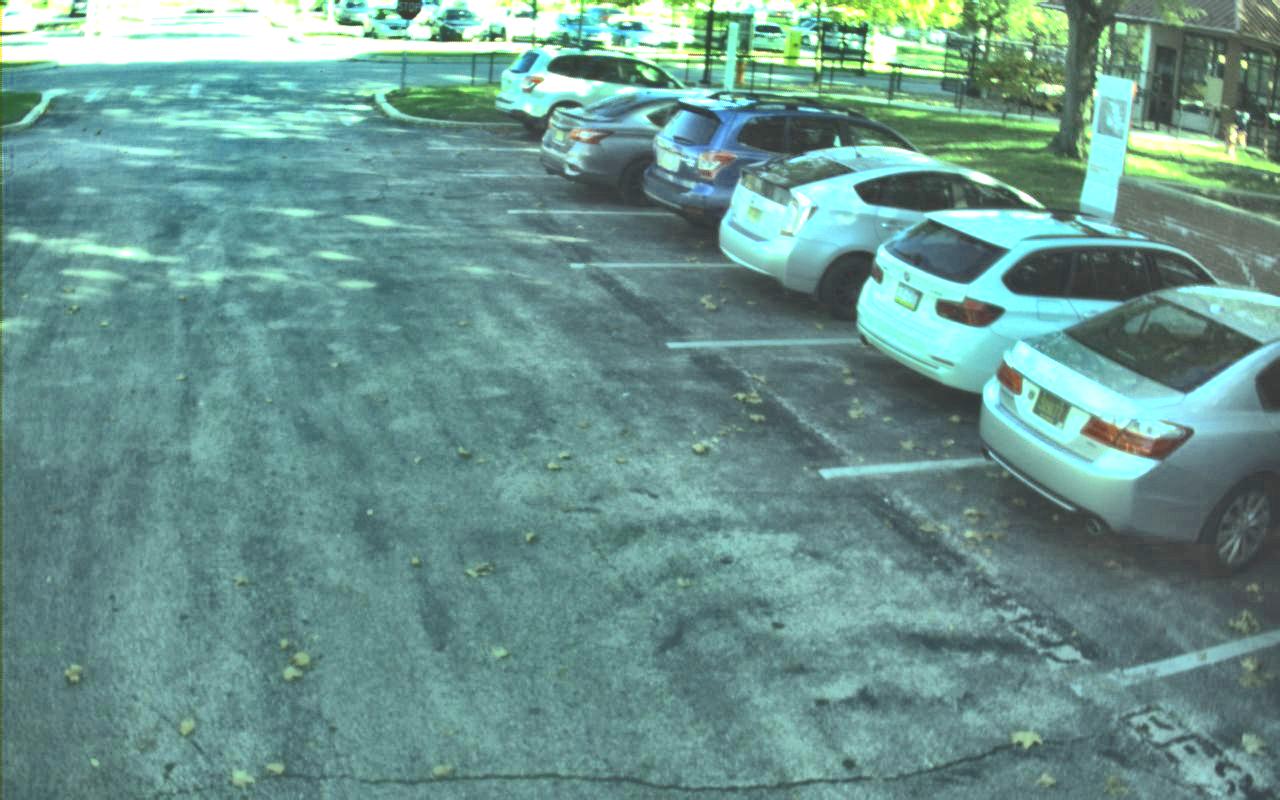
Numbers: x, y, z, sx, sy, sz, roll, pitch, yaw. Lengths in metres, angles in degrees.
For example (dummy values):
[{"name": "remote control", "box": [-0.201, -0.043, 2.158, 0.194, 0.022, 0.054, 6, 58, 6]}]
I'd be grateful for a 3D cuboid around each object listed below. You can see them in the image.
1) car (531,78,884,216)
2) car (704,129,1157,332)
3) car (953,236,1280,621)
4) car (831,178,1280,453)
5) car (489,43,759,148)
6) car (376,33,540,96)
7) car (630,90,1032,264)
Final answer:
[{"name": "car", "box": [0.925, -3.550, 17.000, 4.437, 1.560, 1.942, -7, 17, -18]}, {"name": "car", "box": [2.994, -1.841, 12.353, 4.331, 1.562, 1.898, -6, 17, -17]}, {"name": "car", "box": [4.383, -0.066, 7.458, 4.432, 1.549, 1.924, -6, 17, -18]}, {"name": "car", "box": [3.906, -0.894, 9.904, 4.337, 1.581, 1.915, -7, 17, -19]}, {"name": "car", "box": [-0.300, -5.610, 22.580, 4.514, 1.680, 1.965, -8, 17, -21]}, {"name": "car", "box": [-5.594, -10.233, 37.195, 4.795, 1.642, 2.015, -6, 17, -15]}, {"name": "car", "box": [2.304, -2.756, 14.656, 4.438, 1.688, 1.952, -7, 17, -19]}]
